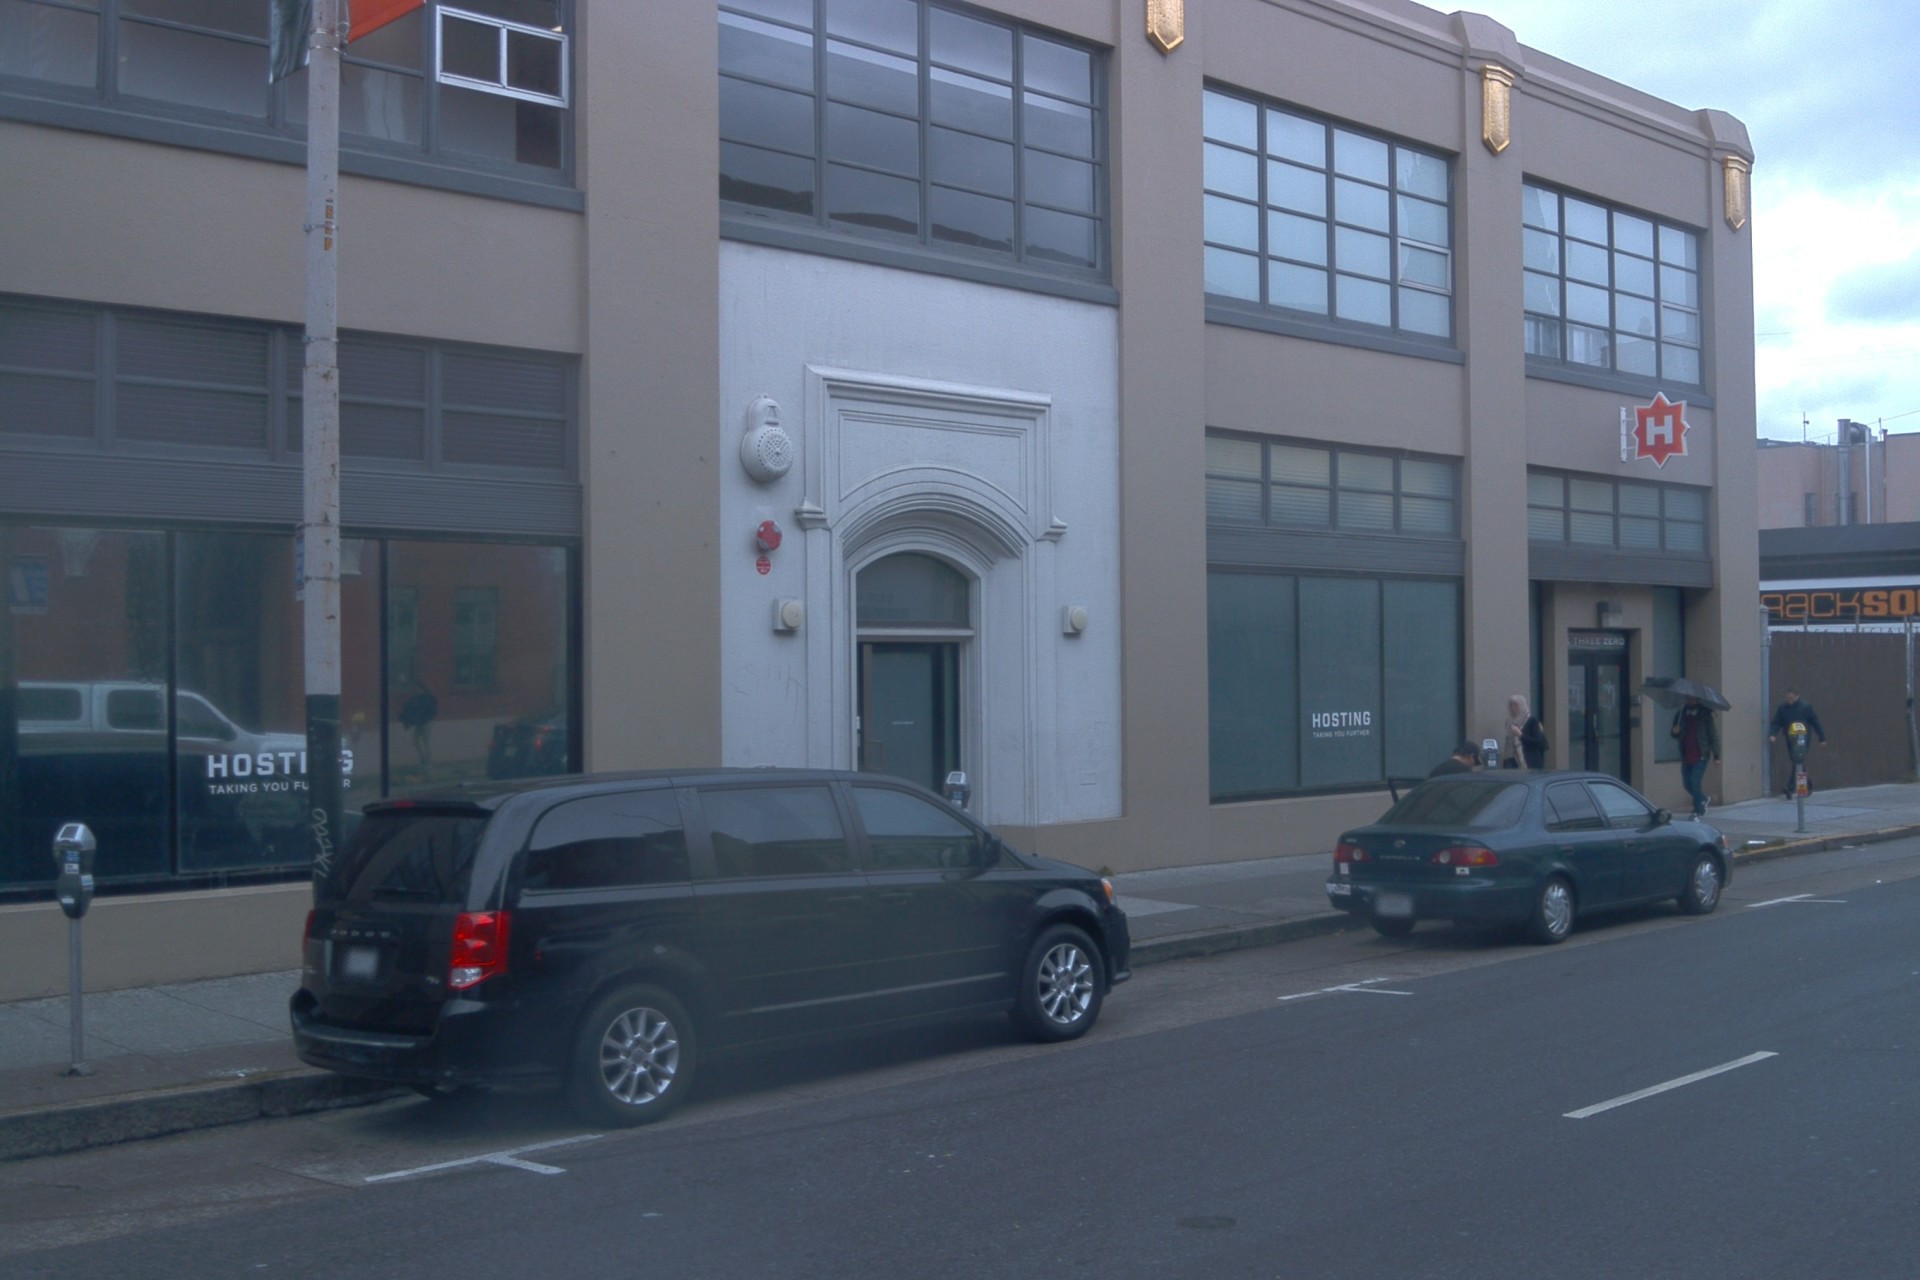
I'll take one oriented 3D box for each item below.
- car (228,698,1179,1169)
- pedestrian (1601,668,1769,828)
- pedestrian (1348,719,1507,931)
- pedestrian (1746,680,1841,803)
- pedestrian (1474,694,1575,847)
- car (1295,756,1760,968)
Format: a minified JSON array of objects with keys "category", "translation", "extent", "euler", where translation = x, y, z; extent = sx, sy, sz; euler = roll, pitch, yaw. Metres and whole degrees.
[{"category":"car","translation":[-1.217,1.377,11.795],"extent":[5.129,1.960,2.084],"euler":[0,0,-44]},{"category":"pedestrian","translation":[9.353,1.351,26.823],"extent":[1.512,1.950,1.495],"euler":[0,0,-41]},{"category":"pedestrian","translation":[4.180,1.620,18.607],"extent":[0.863,1.767,1.101],"euler":[0,0,-44]},{"category":"pedestrian","translation":[12.038,1.437,30.030],"extent":[1.083,1.708,0.924],"euler":[0,0,-45]},{"category":"pedestrian","translation":[6.717,1.533,24.756],"extent":[0.852,1.740,0.841],"euler":[0,0,-45]},{"category":"car","translation":[4.883,1.763,17.535],"extent":[4.350,1.328,1.799],"euler":[0,0,-44]}]
